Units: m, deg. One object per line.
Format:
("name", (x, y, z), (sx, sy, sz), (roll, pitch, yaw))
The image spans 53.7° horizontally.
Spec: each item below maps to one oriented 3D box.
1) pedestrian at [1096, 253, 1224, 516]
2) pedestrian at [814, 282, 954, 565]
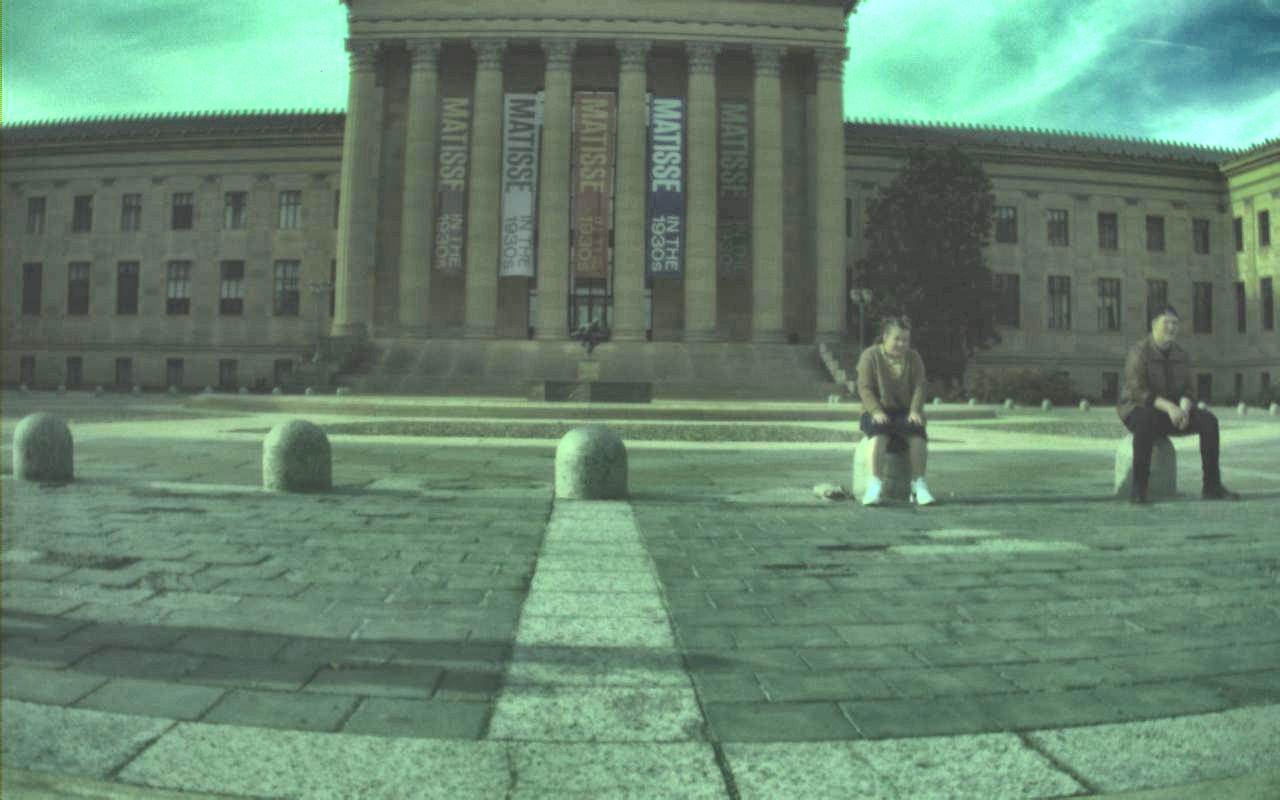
("pedestrian", (3.506, -0.088, 7.927), (0.725, 1.691, 0.749), (0, 0, 7))
("pedestrian", (1.578, 0.135, 7.931), (0.769, 1.714, 0.780), (1, 0, 20))
